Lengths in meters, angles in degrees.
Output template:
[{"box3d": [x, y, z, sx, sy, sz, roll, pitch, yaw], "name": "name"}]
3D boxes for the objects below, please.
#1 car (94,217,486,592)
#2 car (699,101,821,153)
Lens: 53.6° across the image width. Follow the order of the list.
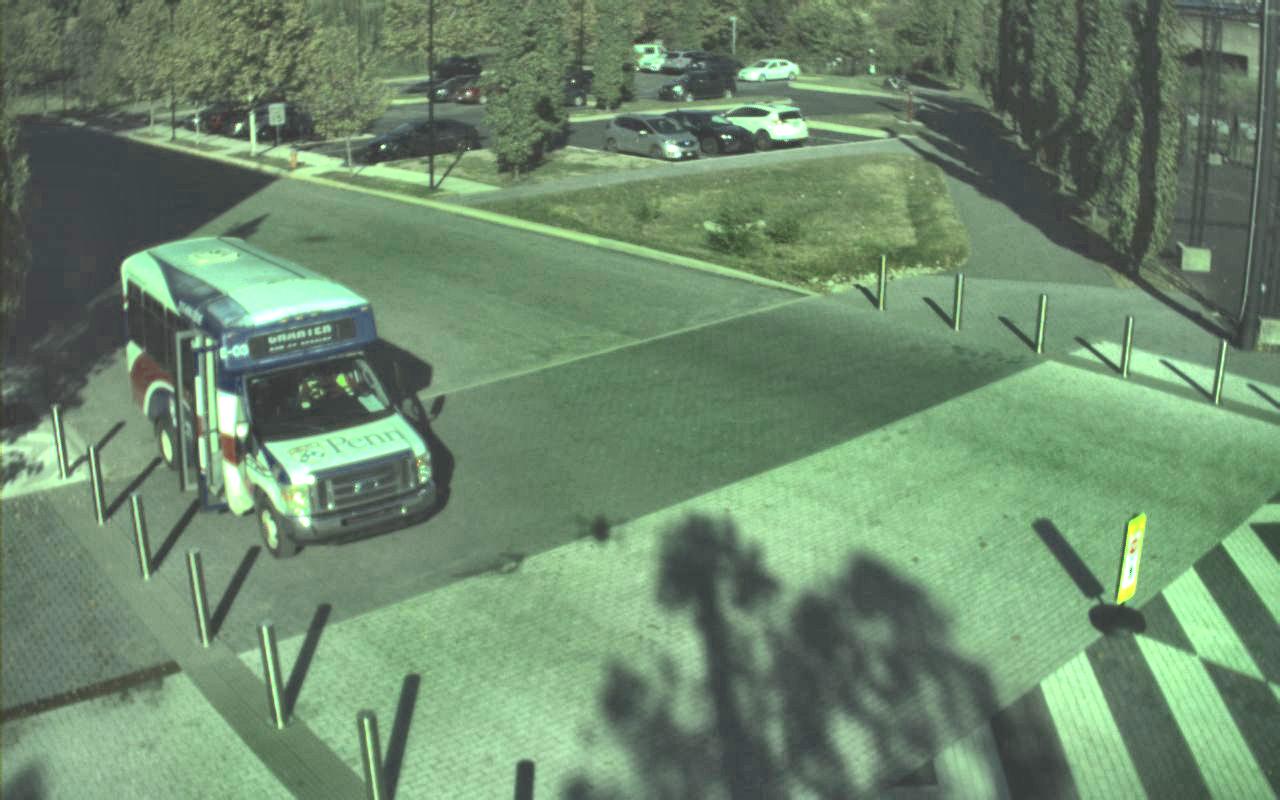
[{"box3d": [-5.060, -0.403, 15.969, 2.699, 2.957, 7.197, -13, 20, -36], "name": "car"}, {"box3d": [4.584, -10.530, 47.799, 1.996, 1.682, 4.575, -15, 21, -39], "name": "car"}]
